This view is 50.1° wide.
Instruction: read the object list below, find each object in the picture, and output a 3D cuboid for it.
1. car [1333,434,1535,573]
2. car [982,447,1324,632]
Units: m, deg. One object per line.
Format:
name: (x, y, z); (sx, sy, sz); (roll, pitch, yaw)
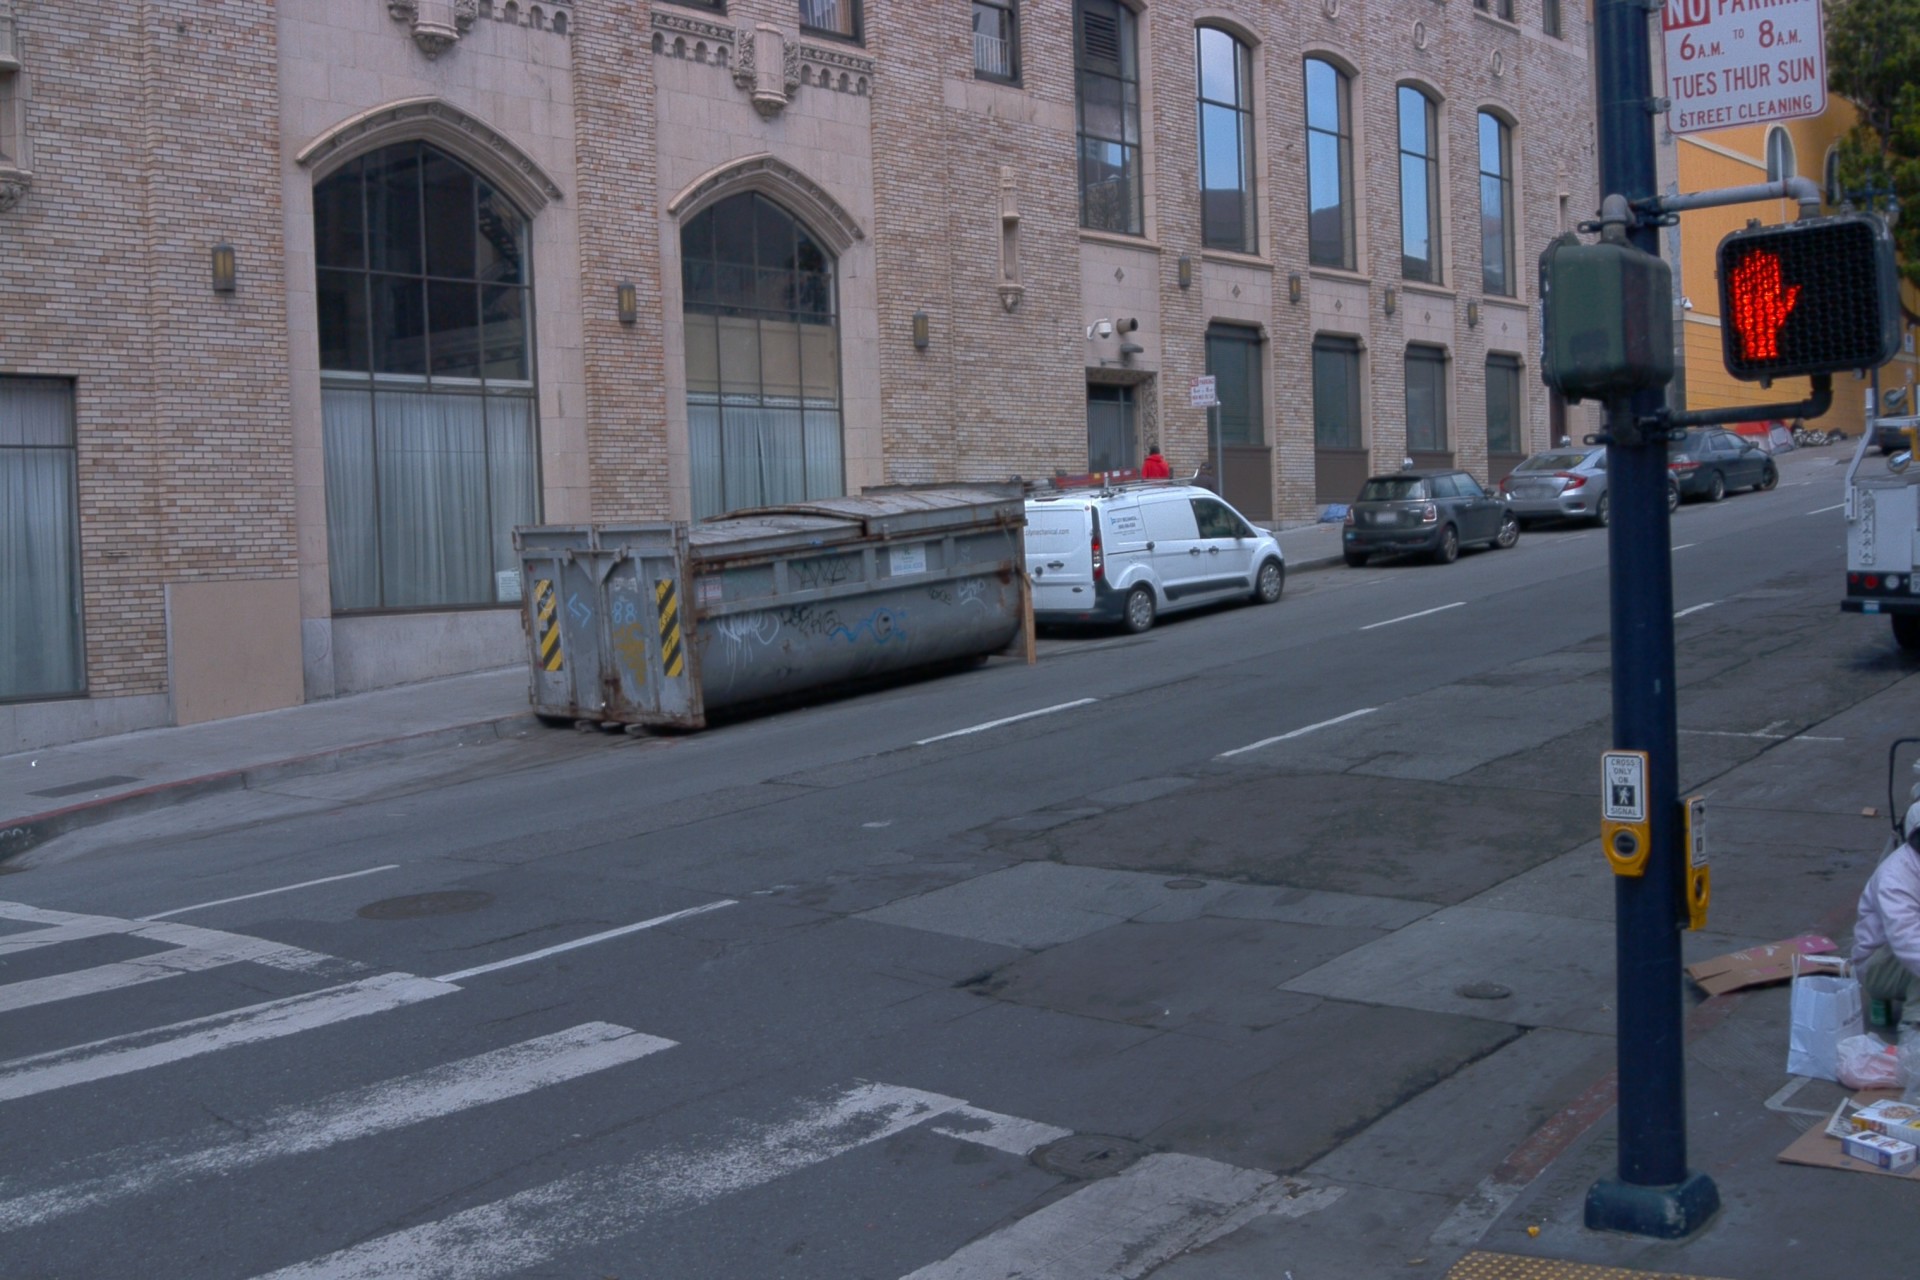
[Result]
car: (7.535, -2.086, 32.504); (1.744, 1.980, 3.739); (0, 1, 37)
car: (2.603, -1.207, 26.648); (2.019, 2.170, 4.848); (0, 1, 40)
